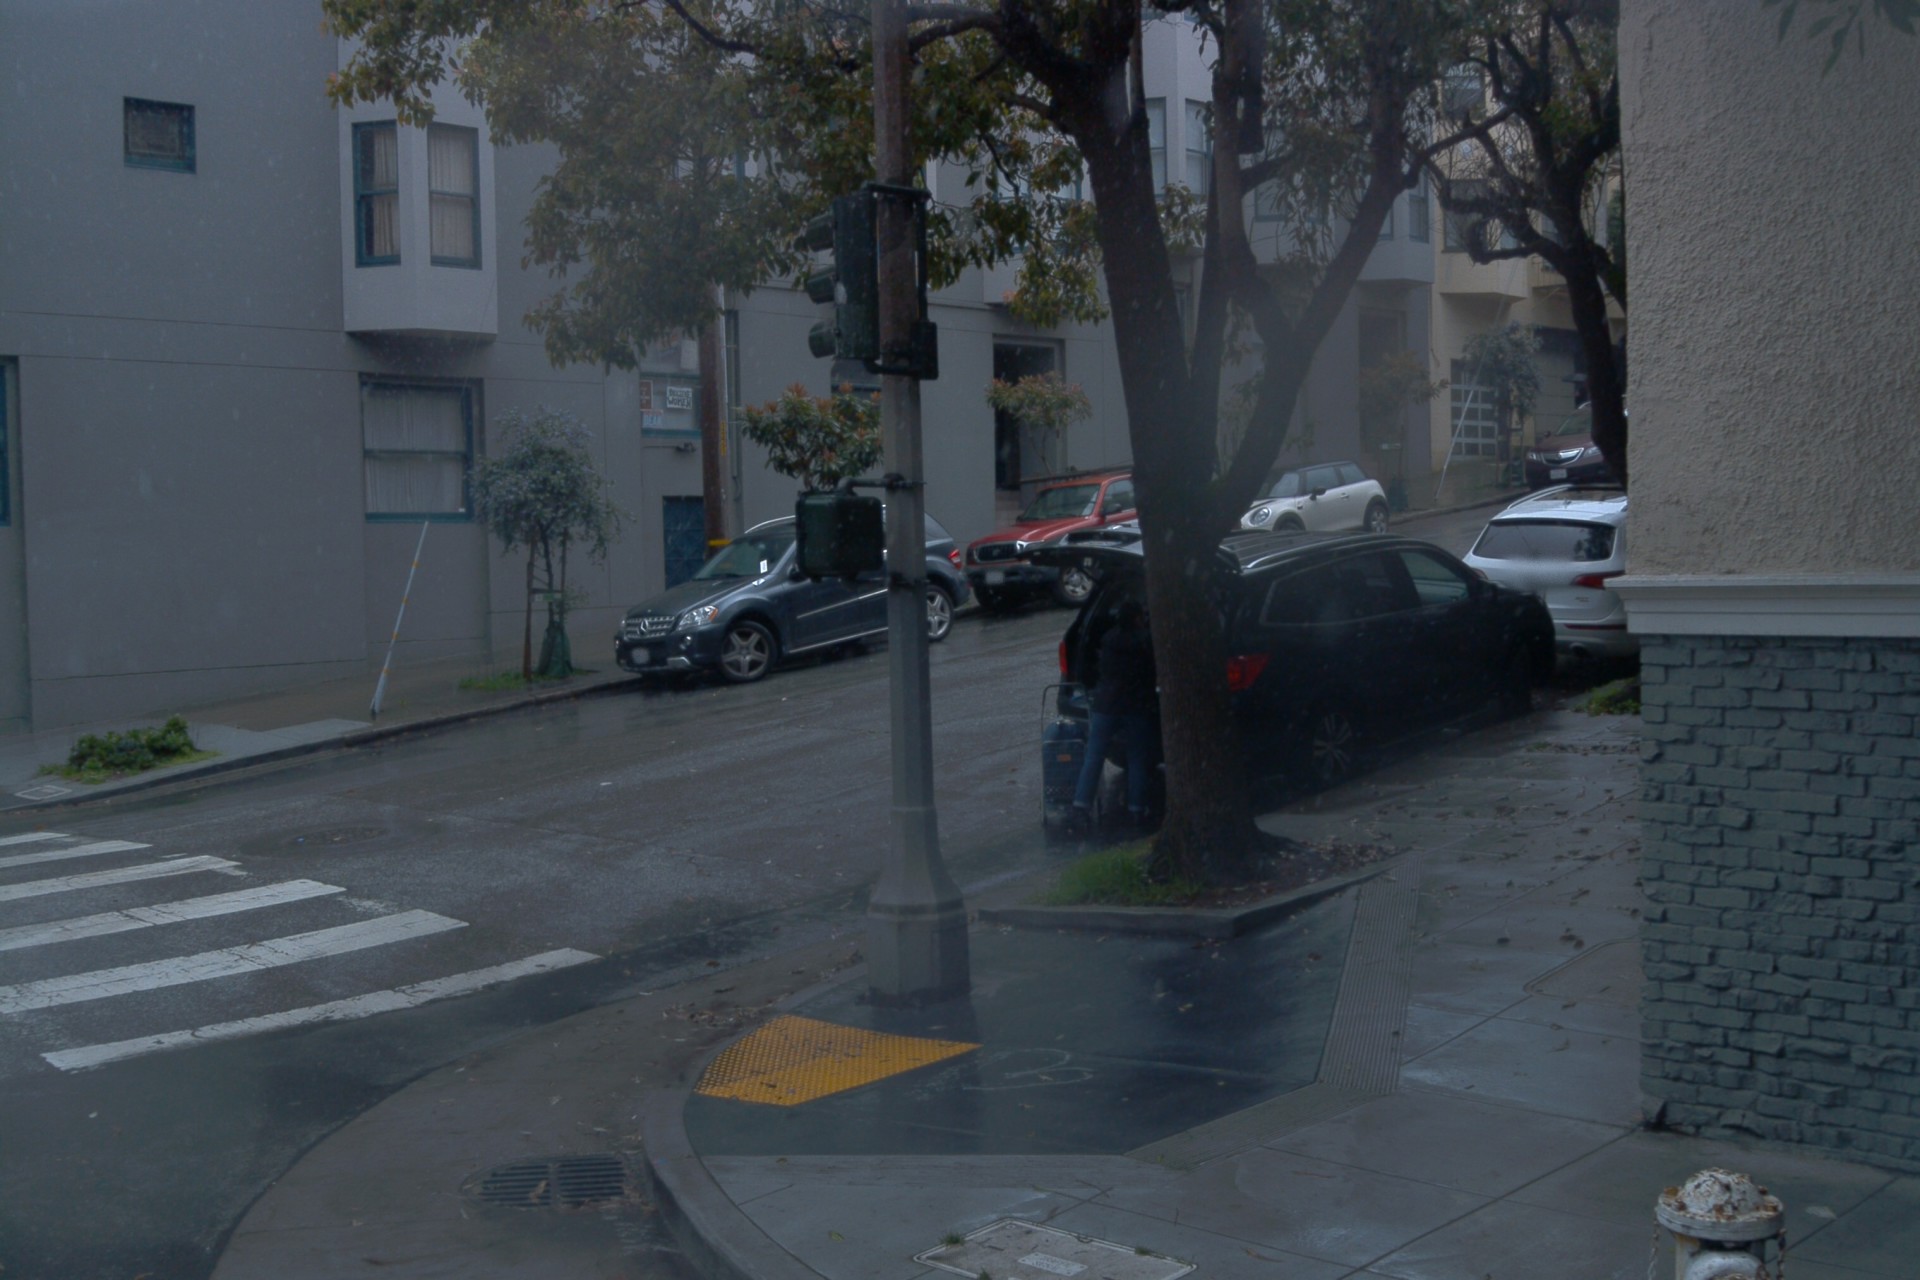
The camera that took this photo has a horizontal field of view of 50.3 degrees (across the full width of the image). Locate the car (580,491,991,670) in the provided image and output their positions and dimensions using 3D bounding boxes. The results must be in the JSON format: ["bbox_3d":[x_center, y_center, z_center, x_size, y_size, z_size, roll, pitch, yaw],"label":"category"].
[{"bbox_3d":[-2.049,-0.652,24.965,2.225,1.980,4.671,0,0,45],"label":"car"}]

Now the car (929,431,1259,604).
[{"bbox_3d":[1.985,-1.652,29.236,4.537,2.180,2.259,0,0,-45],"label":"car"}]

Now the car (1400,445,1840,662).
[{"bbox_3d":[6.523,-0.728,19.878,2.355,1.840,4.675,0,0,42],"label":"car"}]

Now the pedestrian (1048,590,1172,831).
[{"bbox_3d":[1.064,0.477,14.308,0.792,1.634,0.885,0,0,9],"label":"pedestrian"}]

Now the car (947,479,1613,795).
[{"bbox_3d":[2.723,-0.013,16.096,2.384,2.040,5.680,0,0,43],"label":"car"}]
